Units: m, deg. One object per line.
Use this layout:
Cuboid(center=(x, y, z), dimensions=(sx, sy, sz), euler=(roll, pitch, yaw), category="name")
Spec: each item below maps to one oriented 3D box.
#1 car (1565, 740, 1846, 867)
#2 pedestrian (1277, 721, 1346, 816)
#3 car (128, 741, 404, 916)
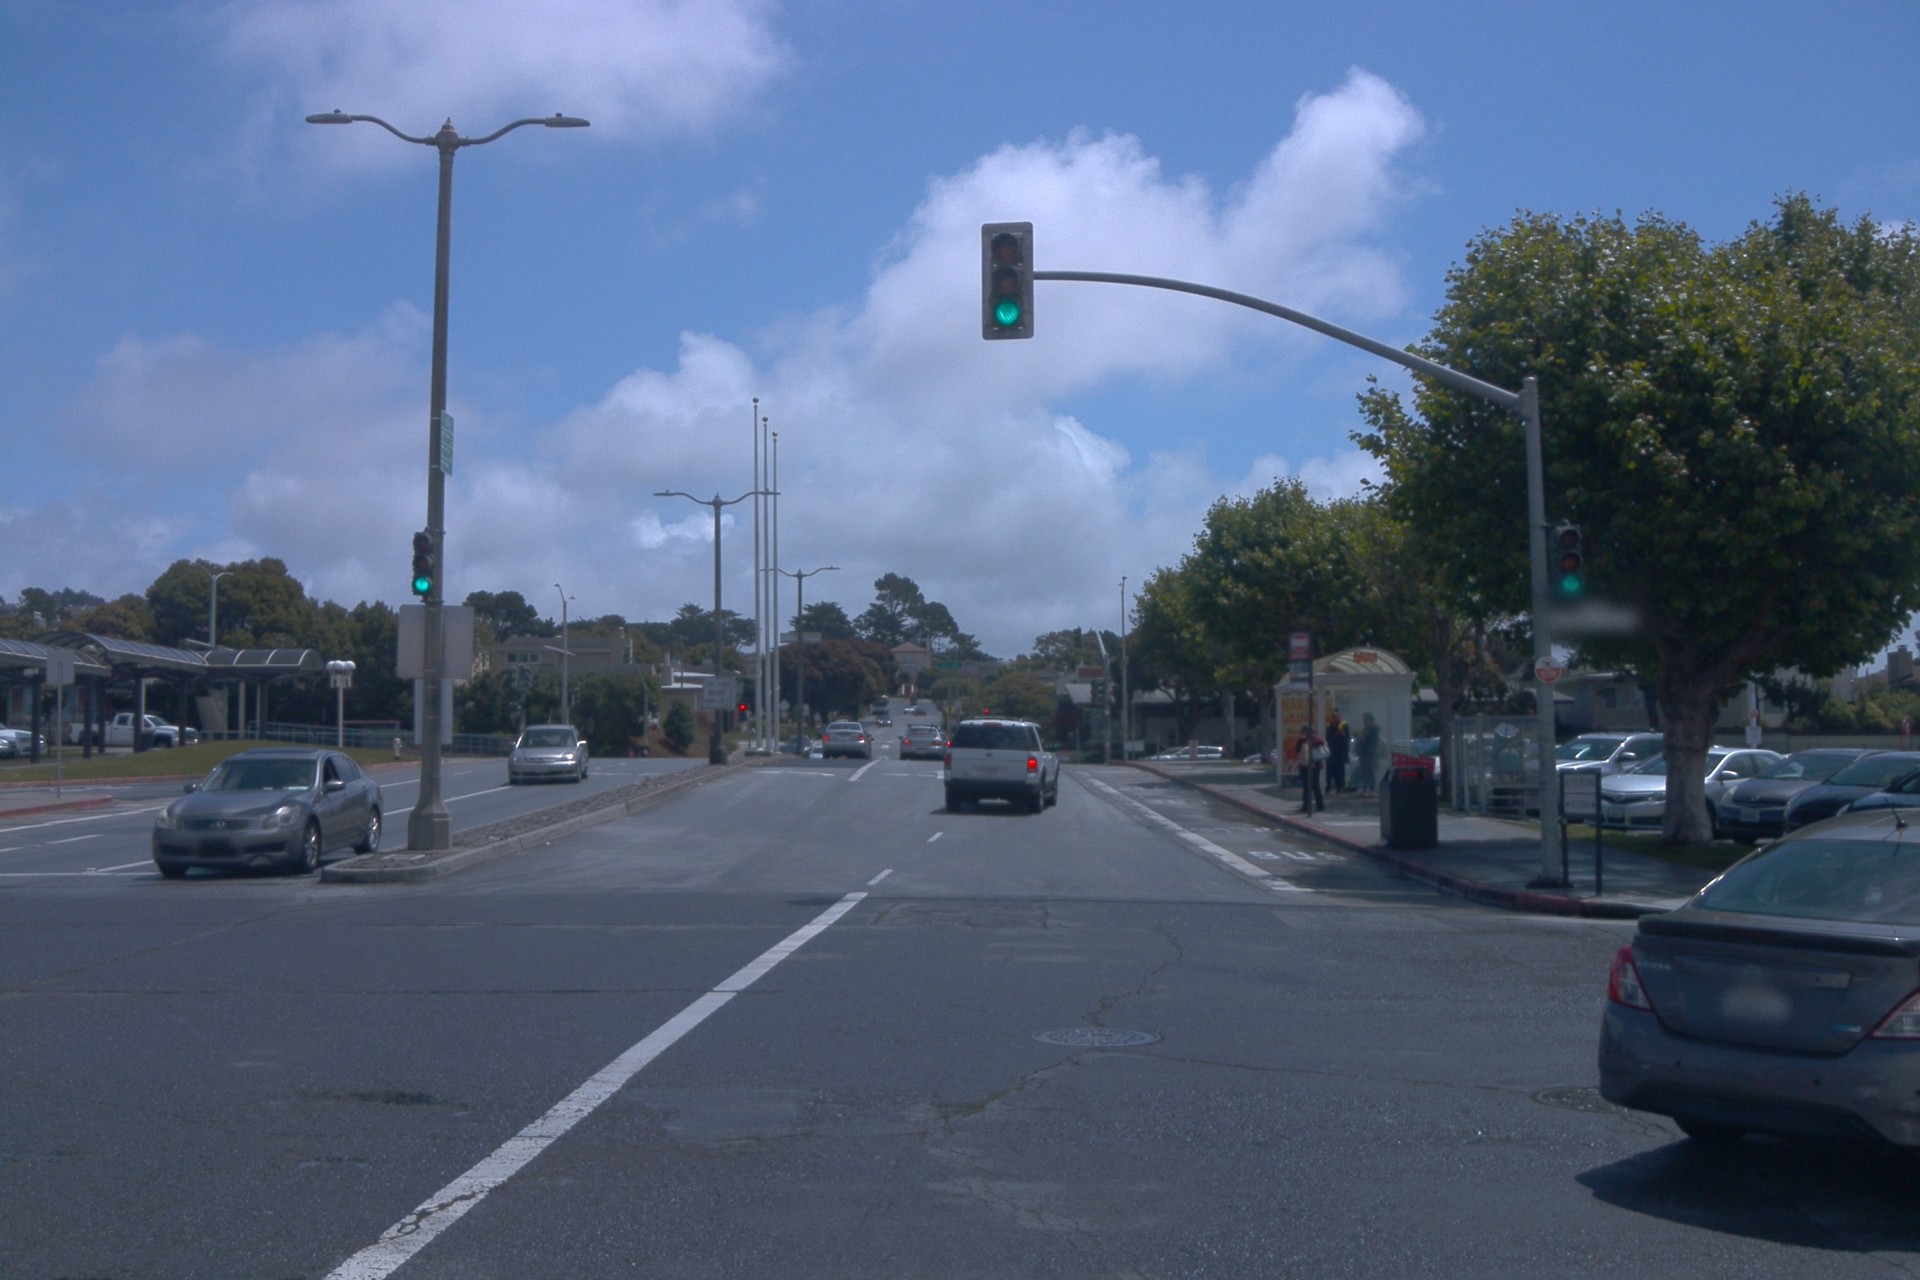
Cuboid(center=(12.185, 2.603, 33.518), dimensions=(4.440, 1.660, 2.123), euler=(-1, 1, -35), category="car")
Cuboid(center=(6.325, 2.299, 37.004), dimensions=(0.996, 1.620, 1.077), euler=(0, 1, -4), category="pedestrian")
Cuboid(center=(-8.474, 2.242, 25.577), dimensions=(1.950, 1.680, 4.713), euler=(0, 1, -1), category="car")
